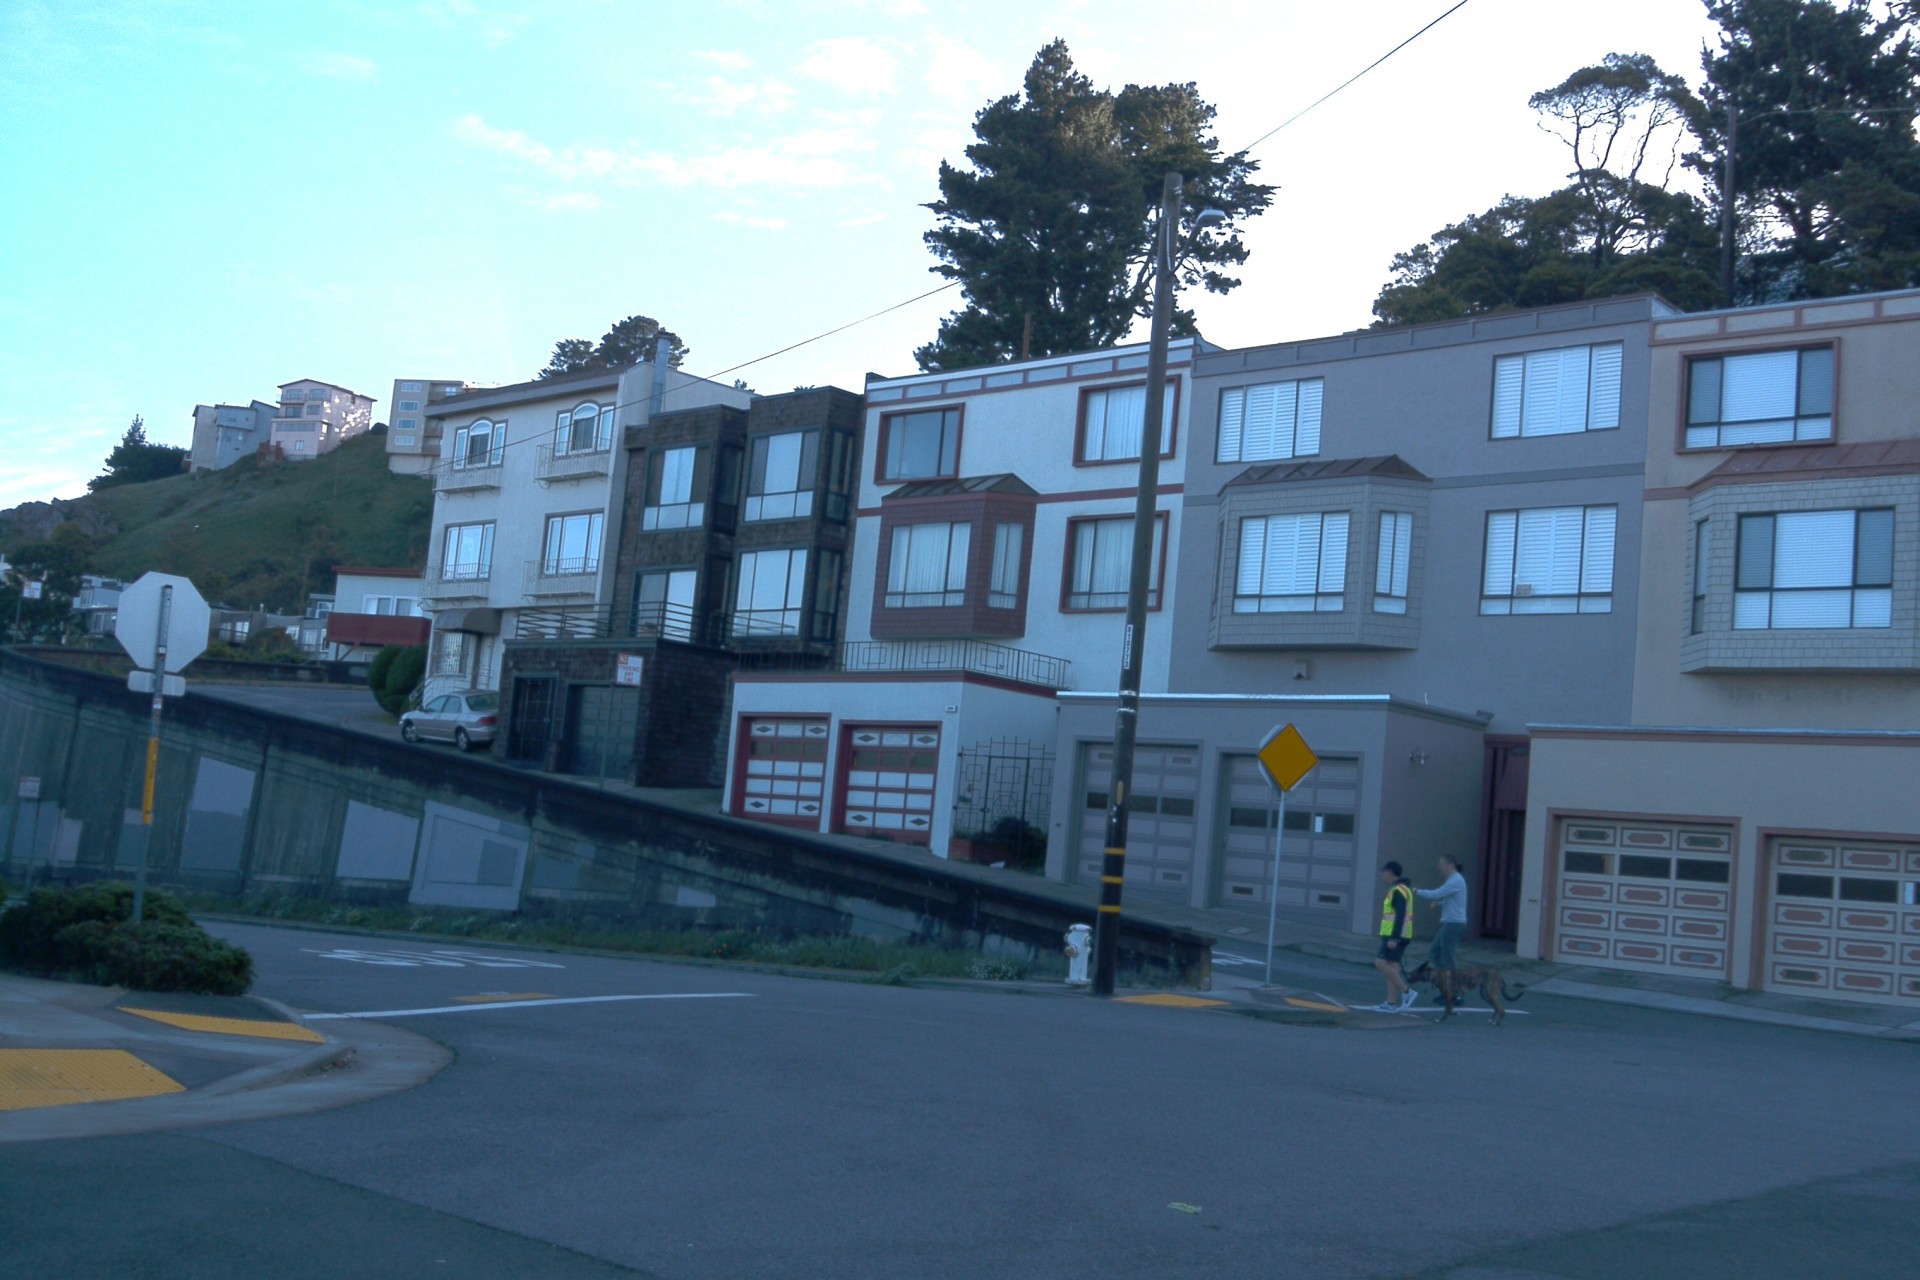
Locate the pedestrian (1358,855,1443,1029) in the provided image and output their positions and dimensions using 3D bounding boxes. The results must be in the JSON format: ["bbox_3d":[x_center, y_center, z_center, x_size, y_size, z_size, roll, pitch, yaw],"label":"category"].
[{"bbox_3d":[4.971,3.381,23.106,0.810,1.770,0.967,1,1,19],"label":"pedestrian"}]

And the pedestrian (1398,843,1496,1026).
[{"bbox_3d":[5.739,3.441,24.142,1.039,1.980,0.841,1,1,18],"label":"pedestrian"}]
